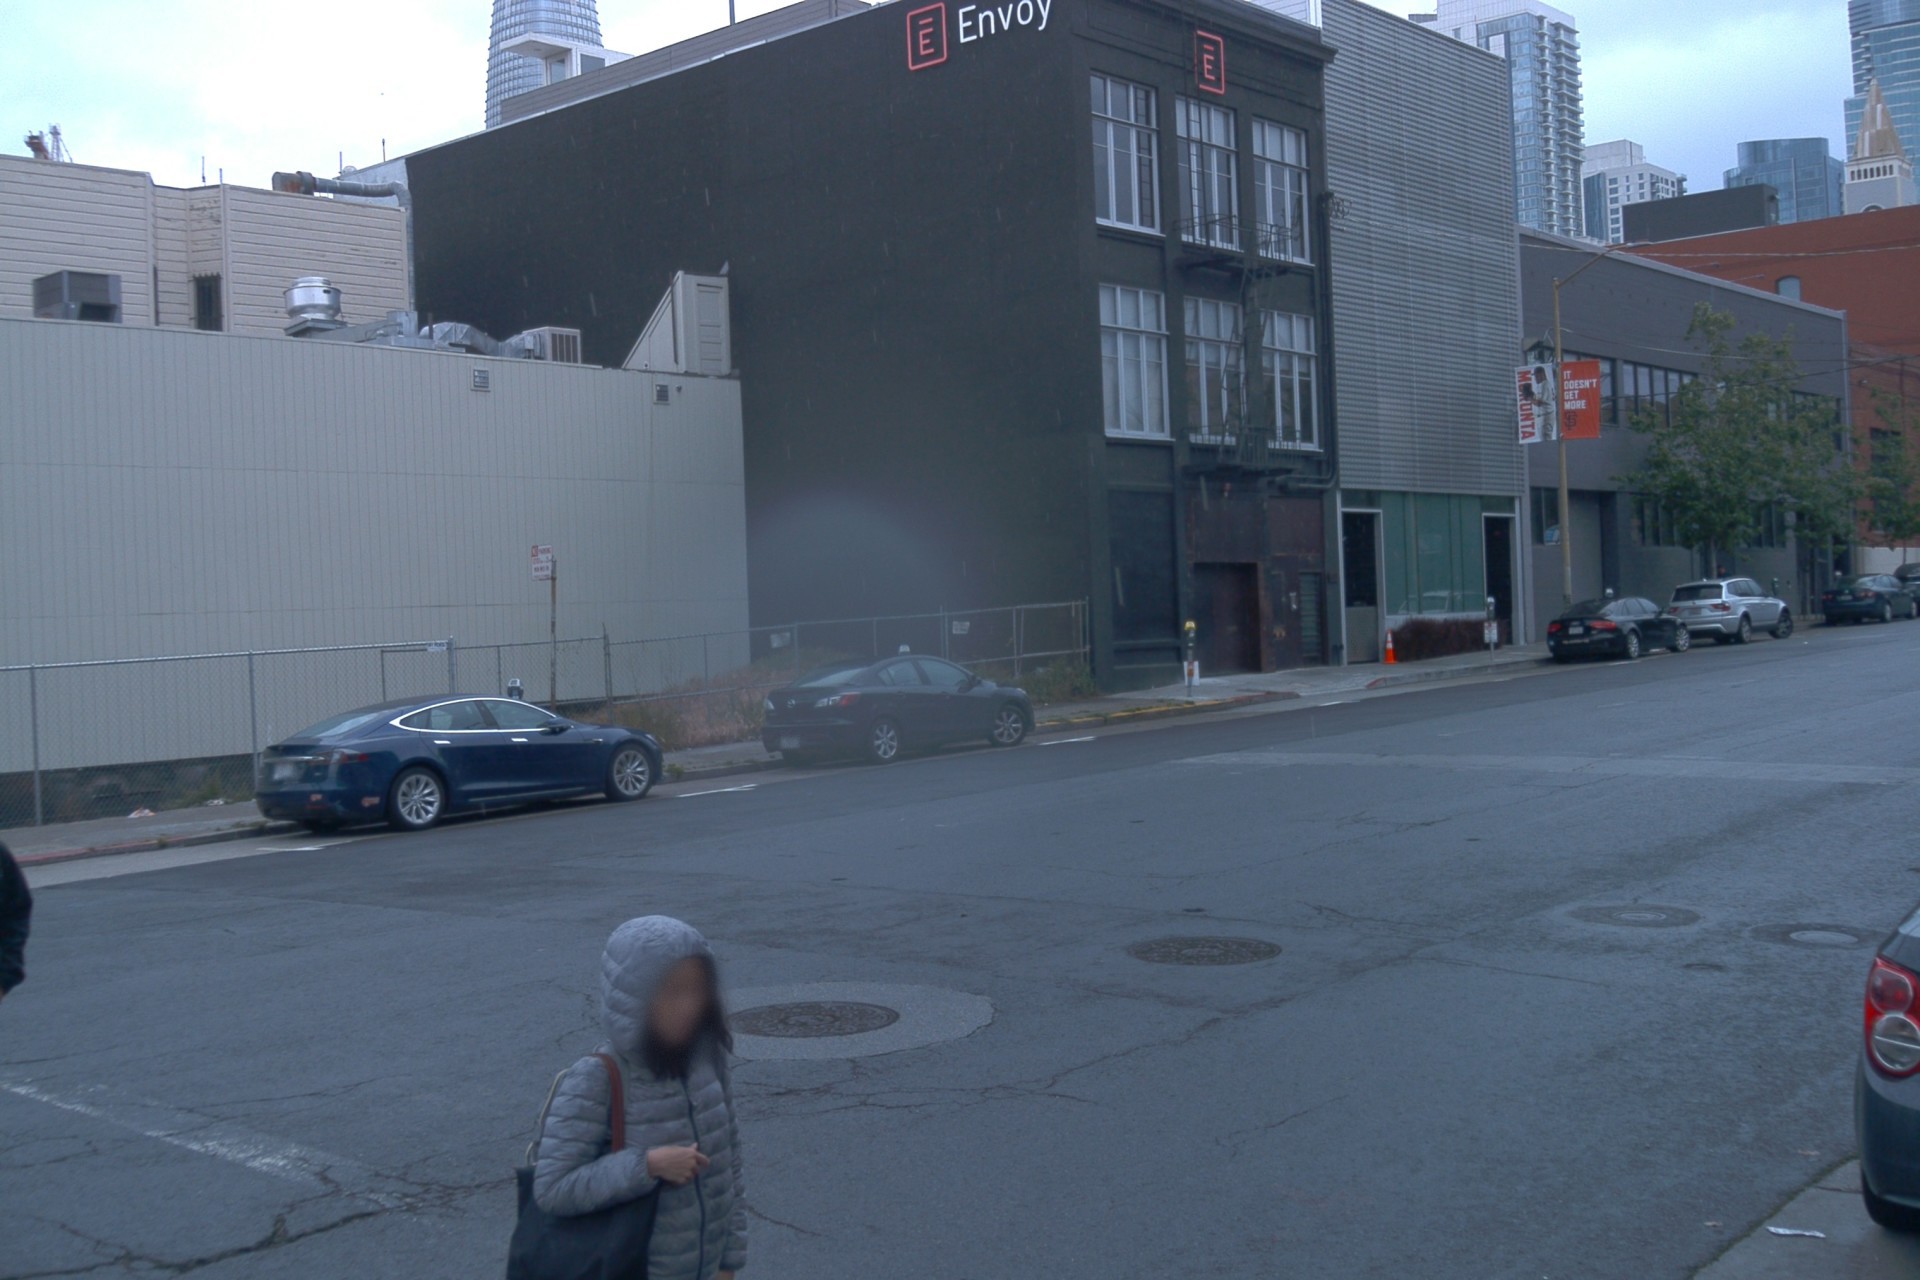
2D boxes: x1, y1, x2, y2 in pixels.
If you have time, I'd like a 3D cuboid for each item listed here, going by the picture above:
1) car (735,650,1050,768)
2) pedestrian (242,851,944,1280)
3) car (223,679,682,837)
[{"bbox_3d":[-0.866,0.912,28.860,2.005,1.500,4.289,0,-1,41],"label":"car"},{"bbox_3d":[-0.741,1.281,4.255,1.007,1.560,0.993,0,-1,39],"label":"pedestrian"},{"bbox_3d":[-5.591,1.233,23.343,2.011,1.550,4.769,0,-1,39],"label":"car"}]
